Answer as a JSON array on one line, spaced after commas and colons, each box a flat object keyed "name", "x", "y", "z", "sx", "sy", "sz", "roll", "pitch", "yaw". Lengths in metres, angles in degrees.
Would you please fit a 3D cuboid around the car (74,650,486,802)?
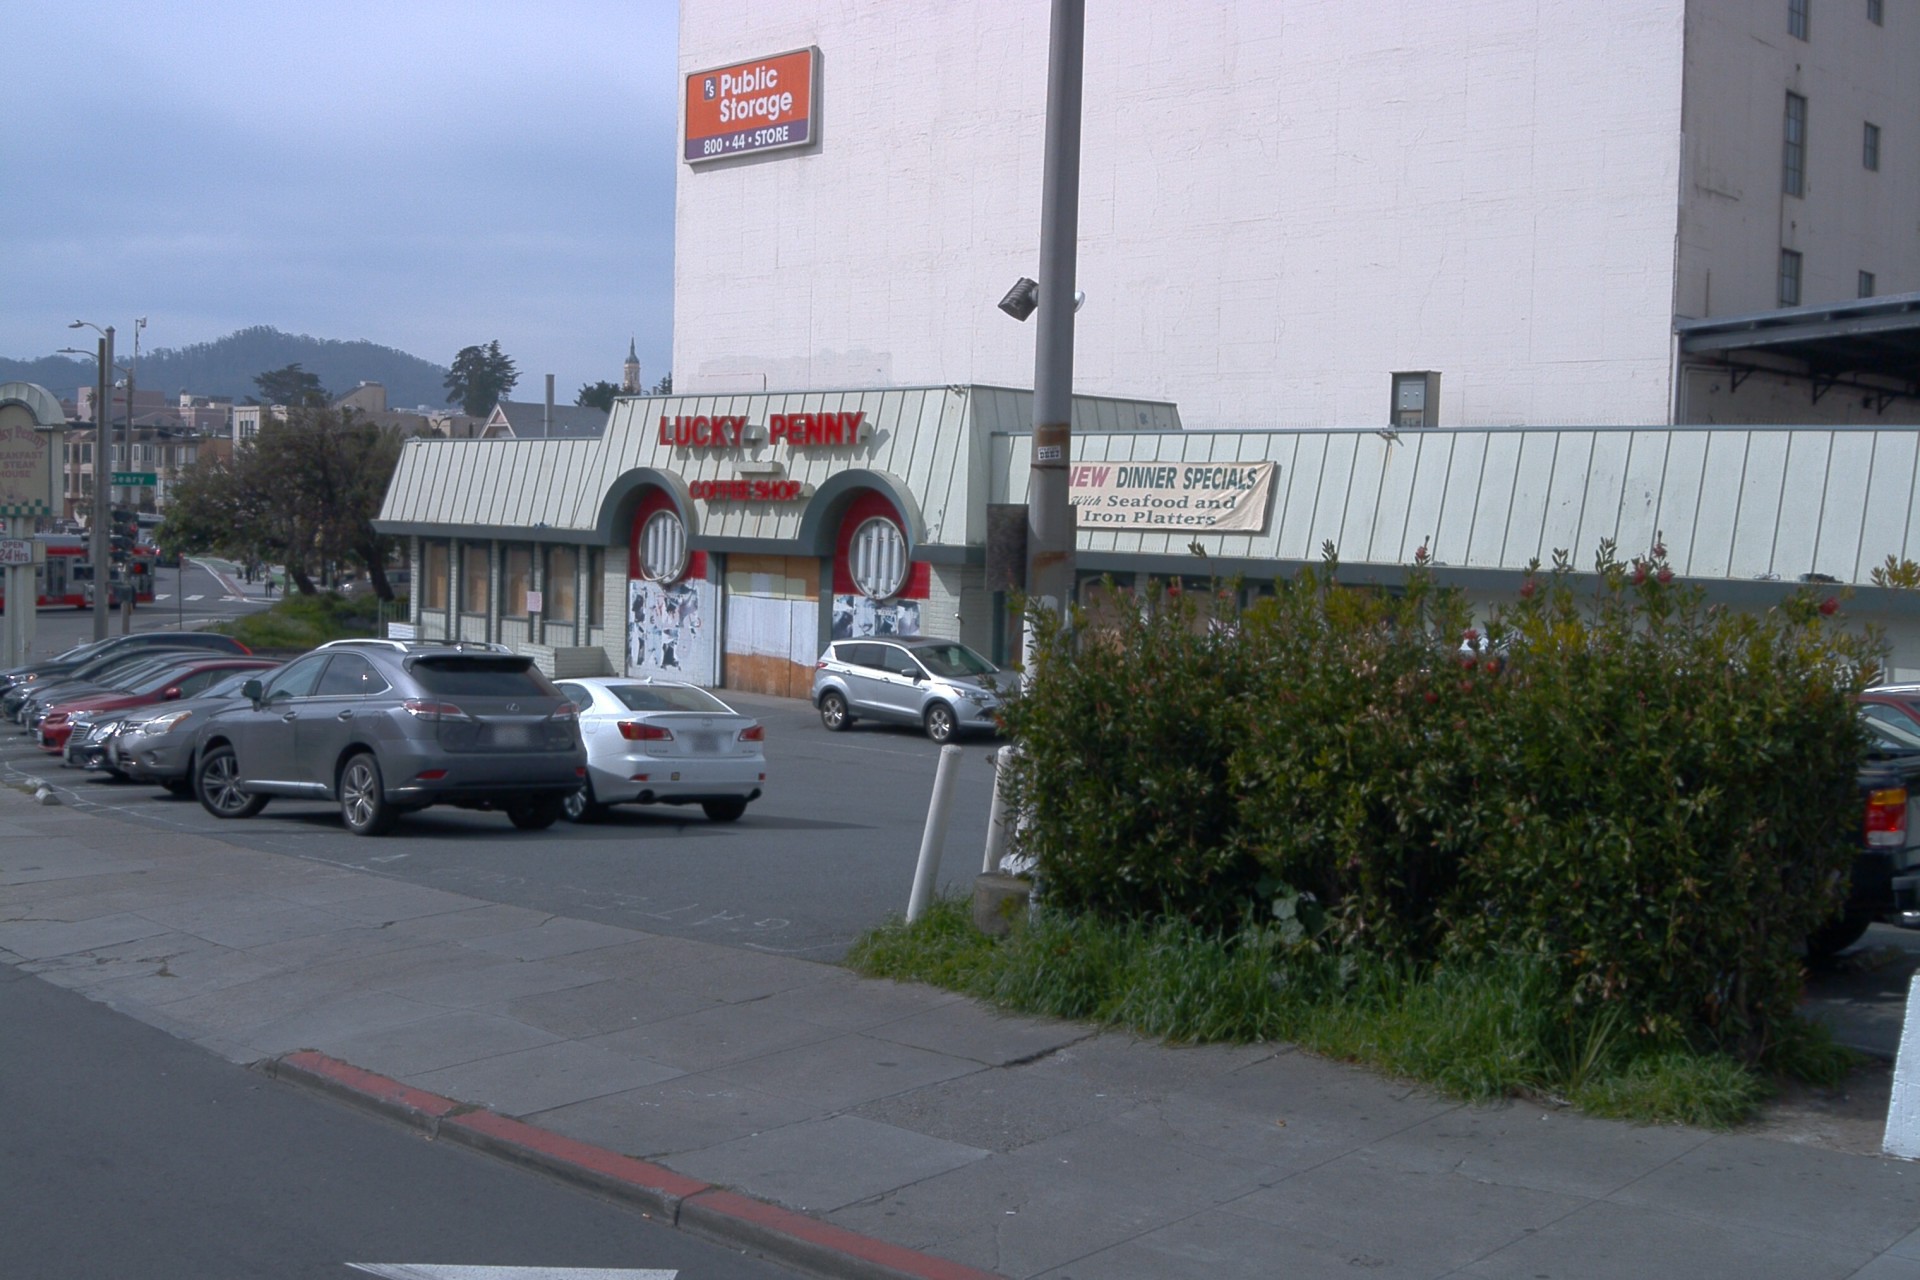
[{"name": "car", "x": -7.735, "y": 0.909, "z": 23.485, "sx": 1.975, "sy": 1.570, "sz": 4.019, "roll": 1, "pitch": 0, "yaw": 45}]

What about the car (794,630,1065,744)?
[{"name": "car", "x": -0.586, "y": 0.748, "z": 35.067, "sx": 2.134, "sy": 1.790, "sz": 4.557, "roll": 0, "pitch": 0, "yaw": -43}]

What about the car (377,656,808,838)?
[{"name": "car", "x": -3.890, "y": 0.994, "z": 21.084, "sx": 2.088, "sy": 1.580, "sz": 4.738, "roll": 0, "pitch": 0, "yaw": -44}]

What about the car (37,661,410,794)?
[{"name": "car", "x": -9.254, "y": 1.038, "z": 25.886, "sx": 4.029, "sy": 1.500, "sz": 1.869, "roll": 0, "pitch": 0, "yaw": -44}]

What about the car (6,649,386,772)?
[{"name": "car", "x": -10.612, "y": 0.914, "z": 28.588, "sx": 4.484, "sy": 1.550, "sz": 2.134, "roll": 0, "pitch": 0, "yaw": -43}]

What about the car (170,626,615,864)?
[{"name": "car", "x": -5.367, "y": 0.850, "z": 19.009, "sx": 2.065, "sy": 1.920, "sz": 4.493, "roll": 0, "pitch": 0, "yaw": -44}]
